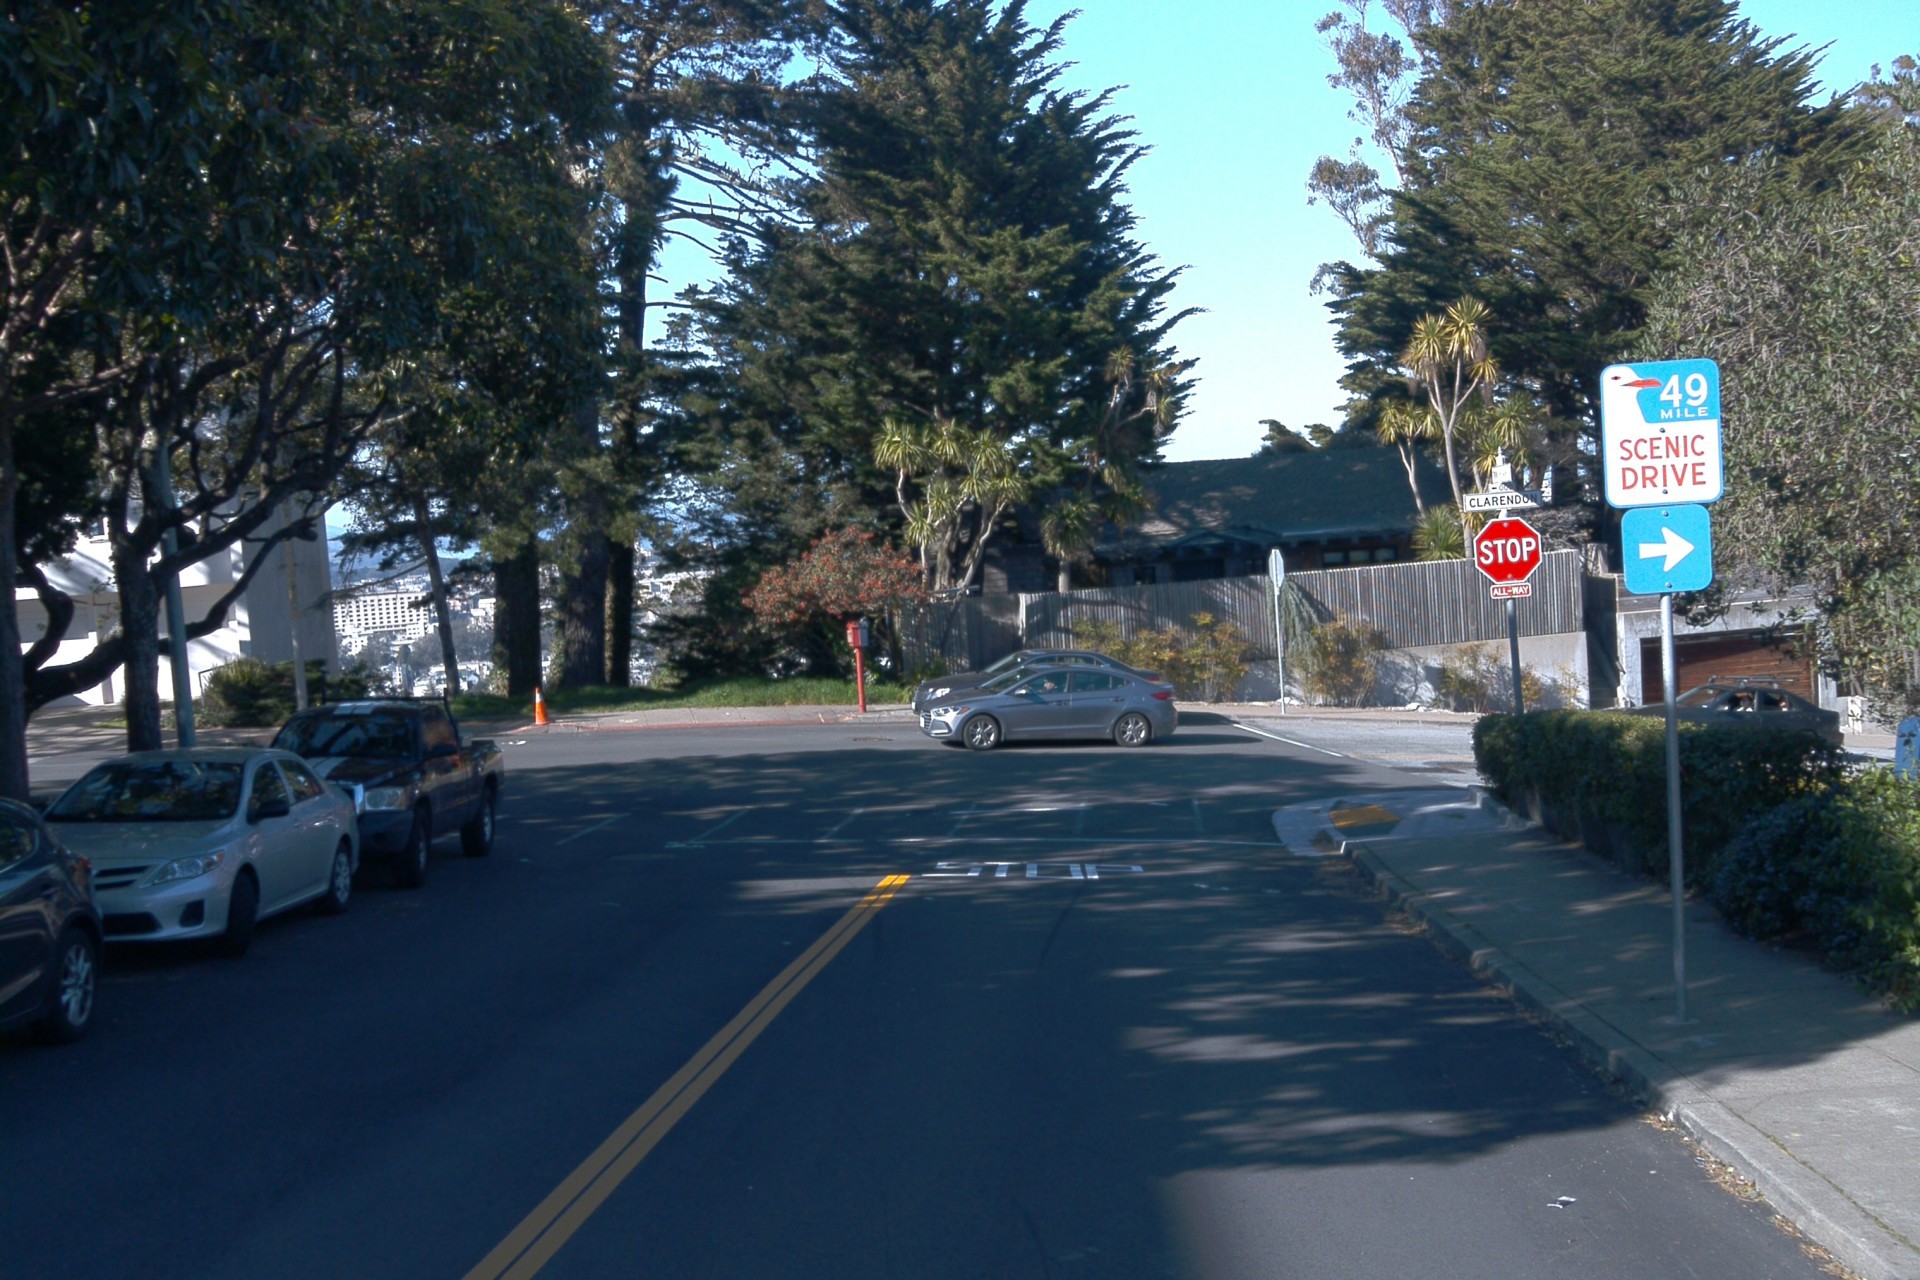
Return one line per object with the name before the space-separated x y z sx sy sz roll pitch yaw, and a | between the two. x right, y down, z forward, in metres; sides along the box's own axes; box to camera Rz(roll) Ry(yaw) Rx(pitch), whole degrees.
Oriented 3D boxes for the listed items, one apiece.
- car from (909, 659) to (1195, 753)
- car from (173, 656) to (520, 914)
car | 1.589 1.126 36.384 4.670 1.580 1.946 0 0 -12
car | -6.073 1.318 21.296 2.123 2.280 5.584 0 0 -2
